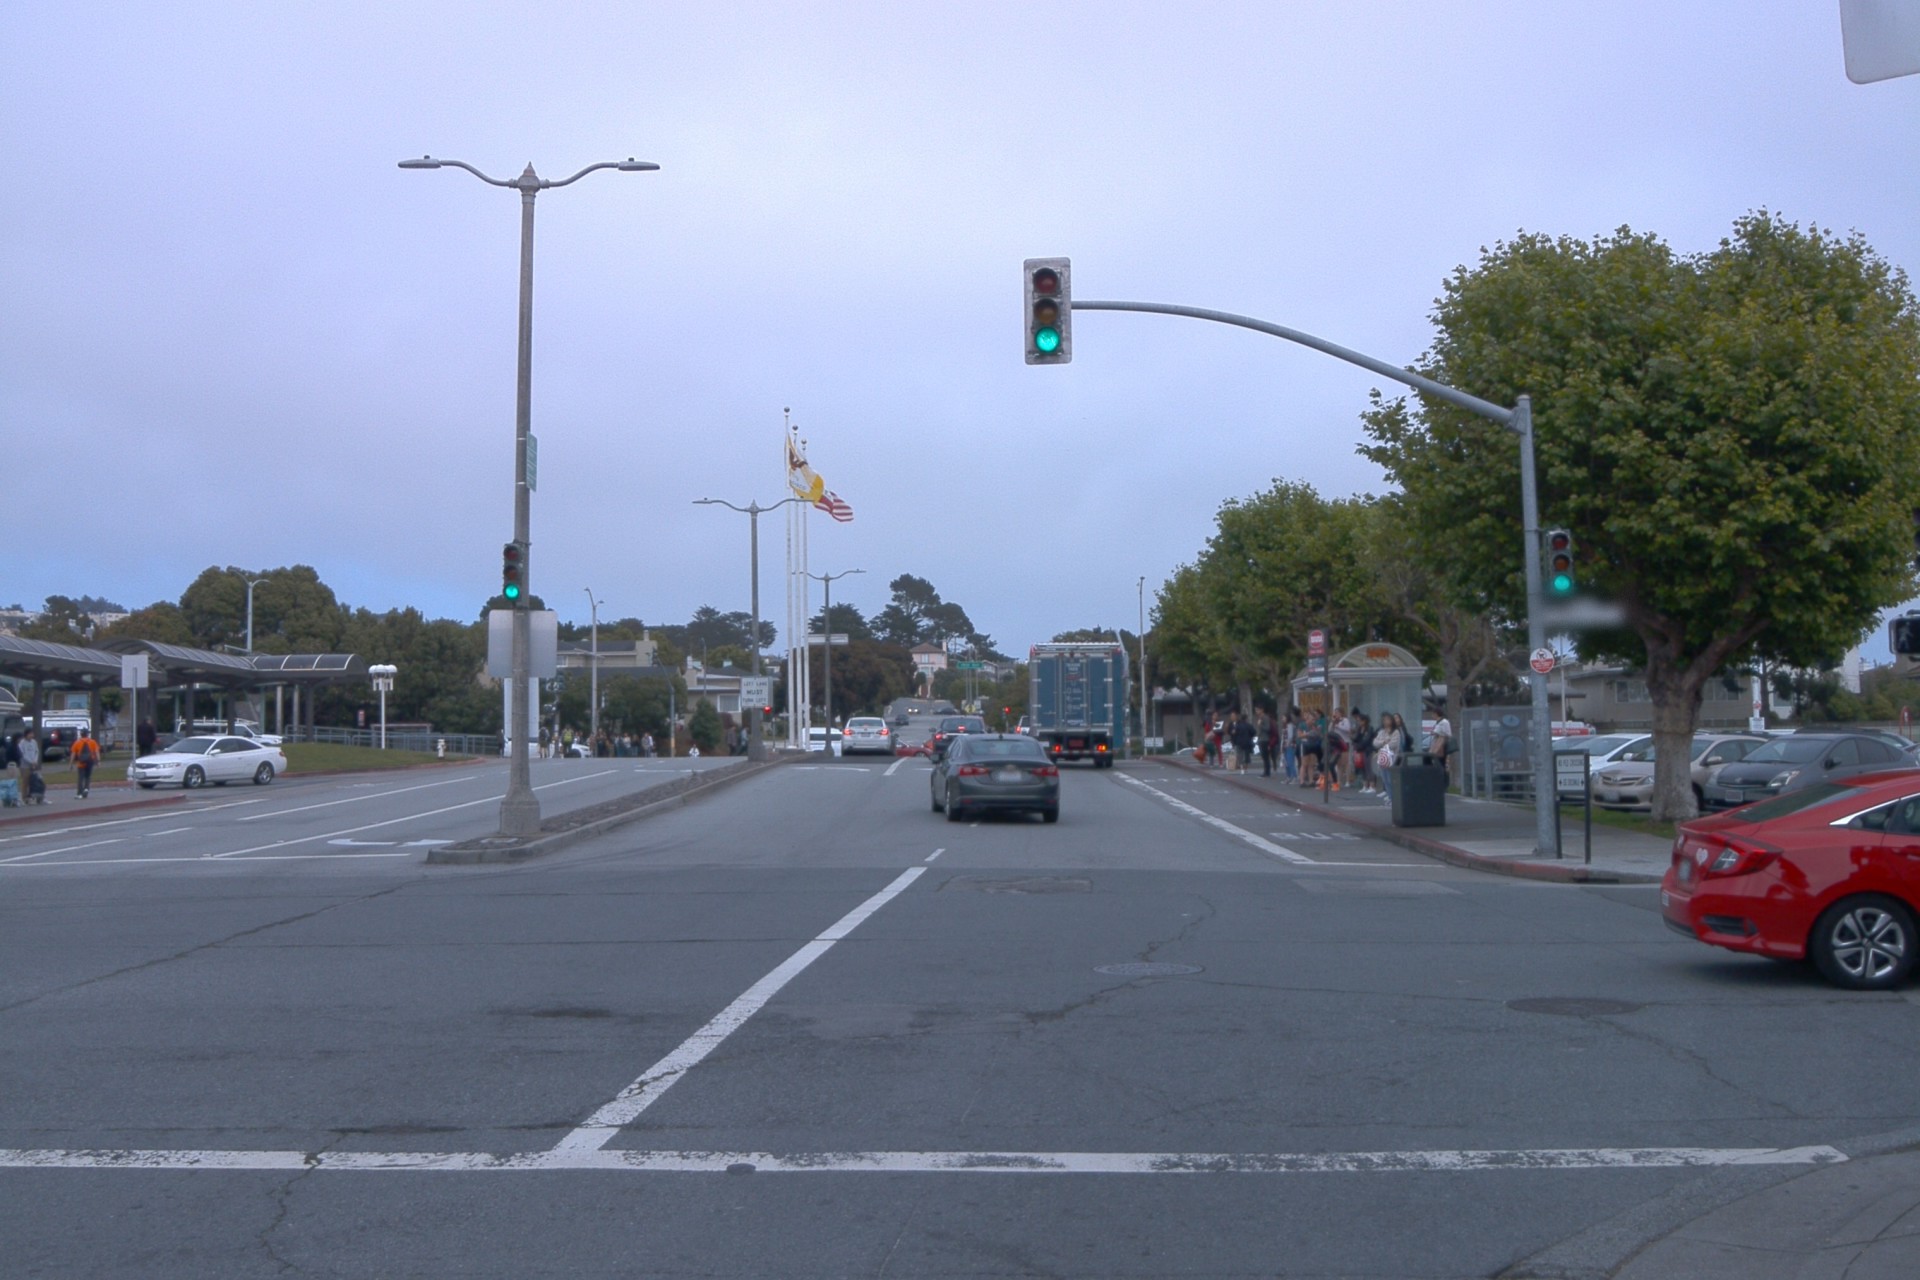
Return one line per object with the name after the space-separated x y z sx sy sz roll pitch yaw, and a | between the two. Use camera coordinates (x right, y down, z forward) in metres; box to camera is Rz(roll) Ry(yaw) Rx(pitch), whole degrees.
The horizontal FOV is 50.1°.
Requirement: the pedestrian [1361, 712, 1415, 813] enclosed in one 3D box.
7.495 2.137 35.996 0.604 1.700 0.727 -1 1 -23 | pedestrian

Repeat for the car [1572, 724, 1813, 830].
12.852 2.357 36.027 3.959 1.540 1.985 -1 1 -33 | car

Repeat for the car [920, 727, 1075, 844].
0.551 2.406 35.101 2.088 1.570 4.890 0 1 -6 | car
